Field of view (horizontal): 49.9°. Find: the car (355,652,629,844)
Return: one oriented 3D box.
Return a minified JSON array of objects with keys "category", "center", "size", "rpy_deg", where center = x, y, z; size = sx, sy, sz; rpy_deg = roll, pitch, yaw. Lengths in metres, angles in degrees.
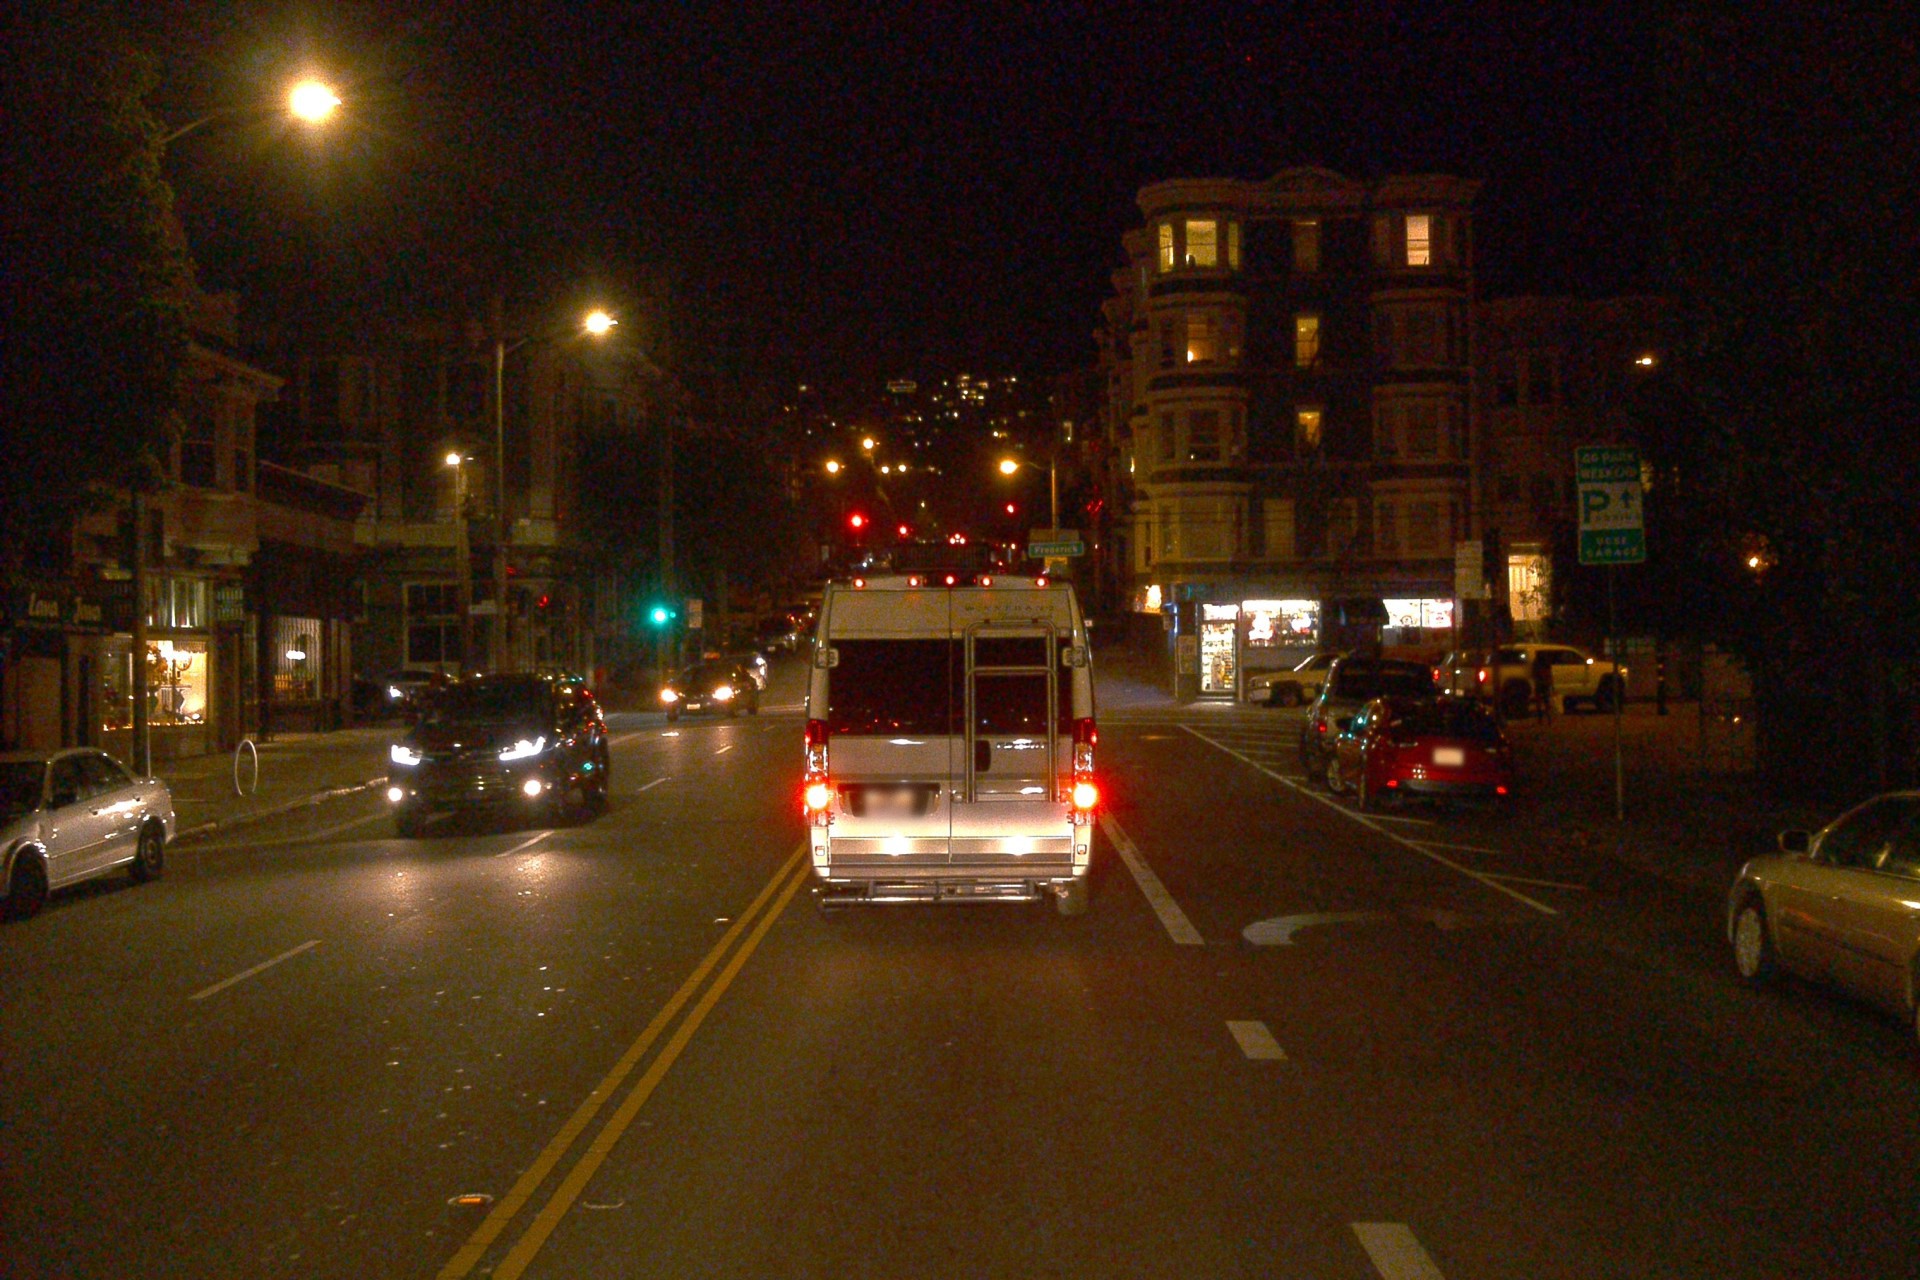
[{"category":"car","center":[-5.505,1.191,24.983],"size":[2.150,2.043,4.863],"rpy_deg":[0,0,1]}]

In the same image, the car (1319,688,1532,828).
[{"category":"car","center":[5.755,1.413,26.027],"size":[1.963,1.500,4.260],"rpy_deg":[0,0,3]}]

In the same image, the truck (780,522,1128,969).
[{"category":"truck","center":[-0.016,0.697,16.417],"size":[2.338,3.000,5.110],"rpy_deg":[0,0,1]}]

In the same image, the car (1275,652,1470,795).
[{"category":"car","center":[6.111,1.174,31.133],"size":[2.490,1.930,4.601],"rpy_deg":[0,0,6]}]
